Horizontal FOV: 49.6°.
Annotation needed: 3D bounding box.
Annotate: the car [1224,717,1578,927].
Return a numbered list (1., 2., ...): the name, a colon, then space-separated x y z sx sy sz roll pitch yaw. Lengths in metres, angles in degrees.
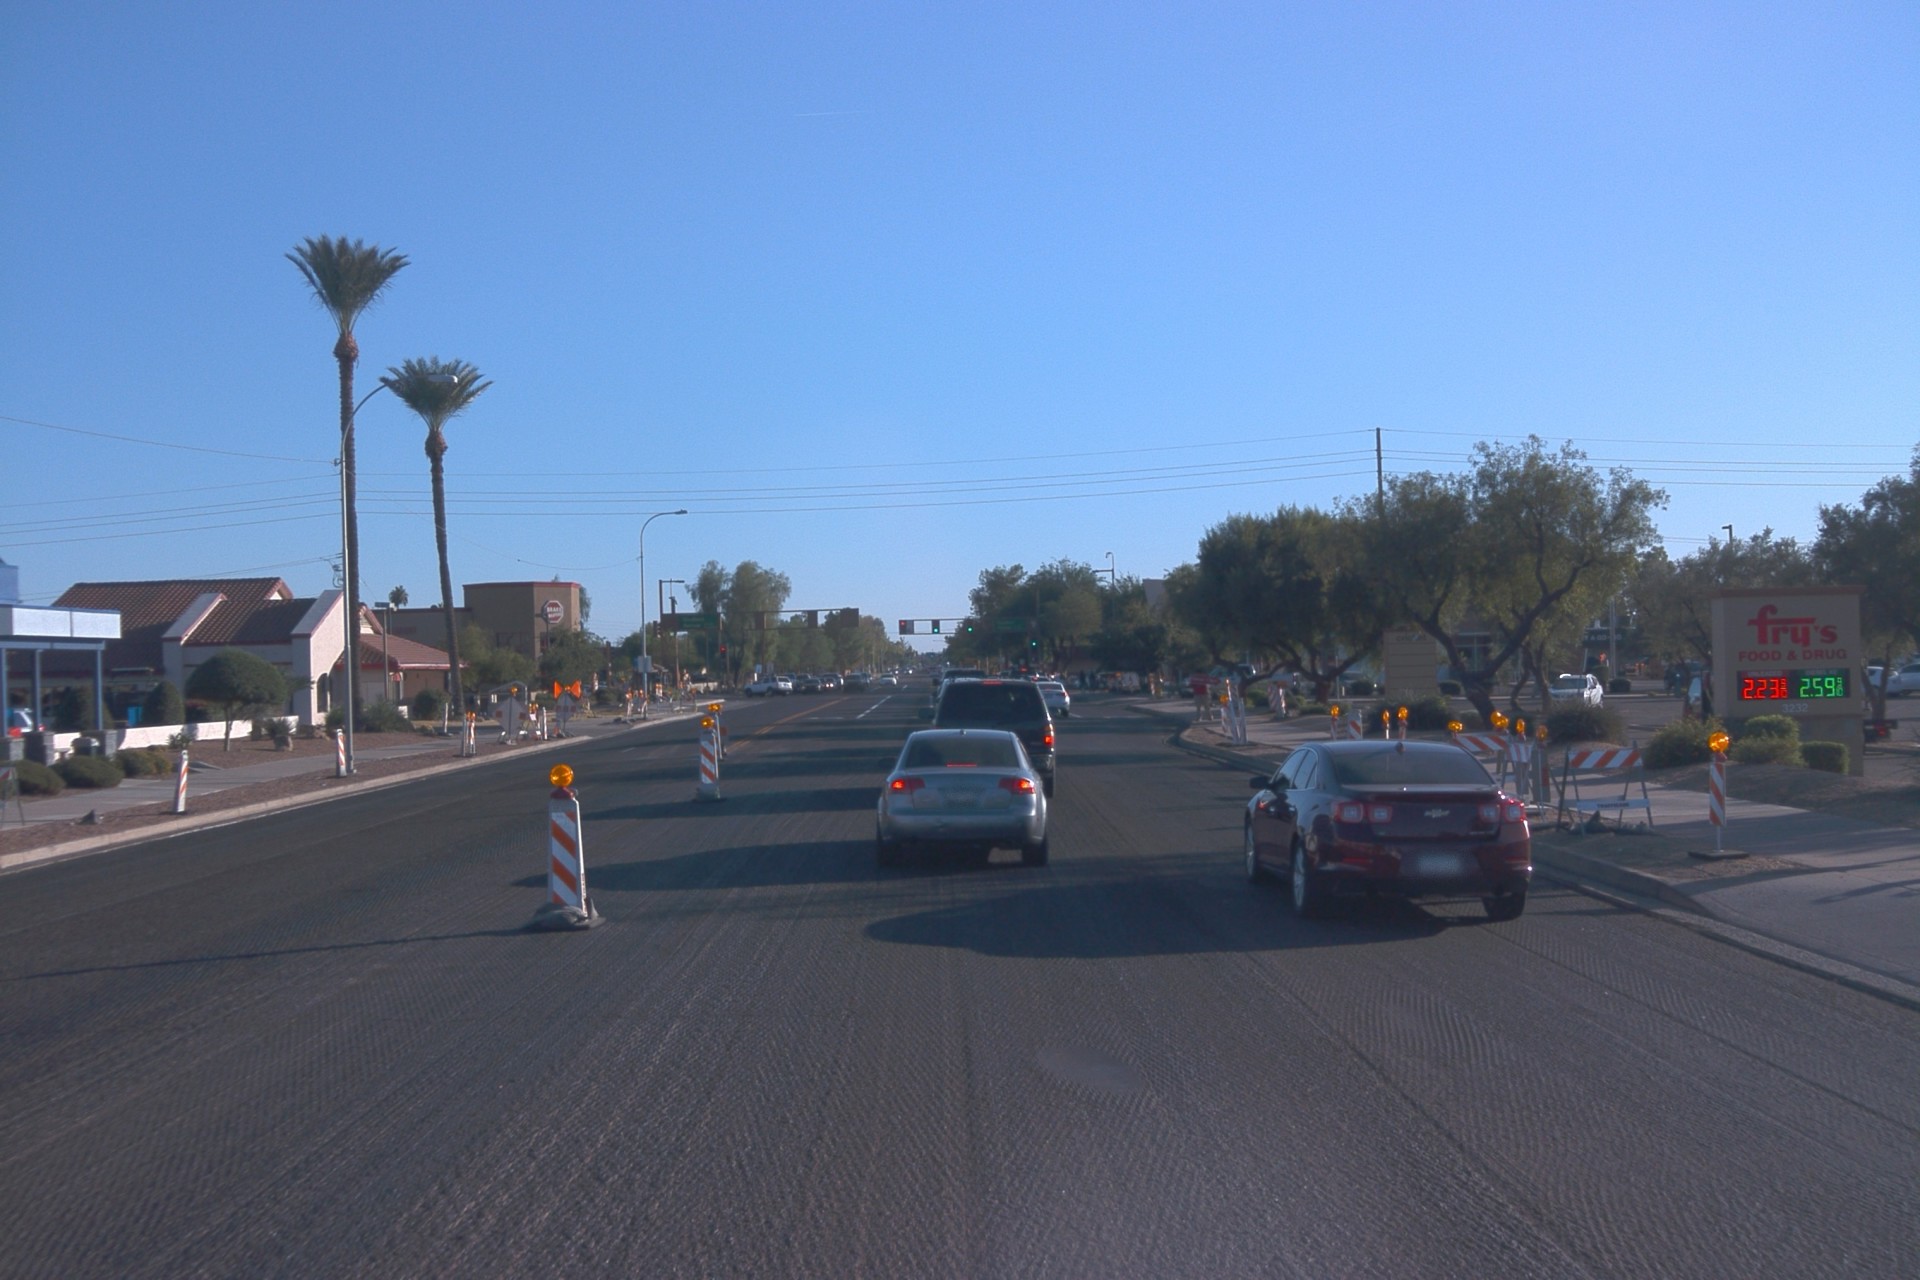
1. car: 3.743 1.508 18.619 2.110 1.540 4.833 0 -1 0

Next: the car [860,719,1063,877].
1. car: 0.049 1.661 22.936 2.033 1.480 4.402 0 -1 1

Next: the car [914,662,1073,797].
1. car: 0.502 1.391 33.908 2.405 2.040 5.061 0 -1 0
